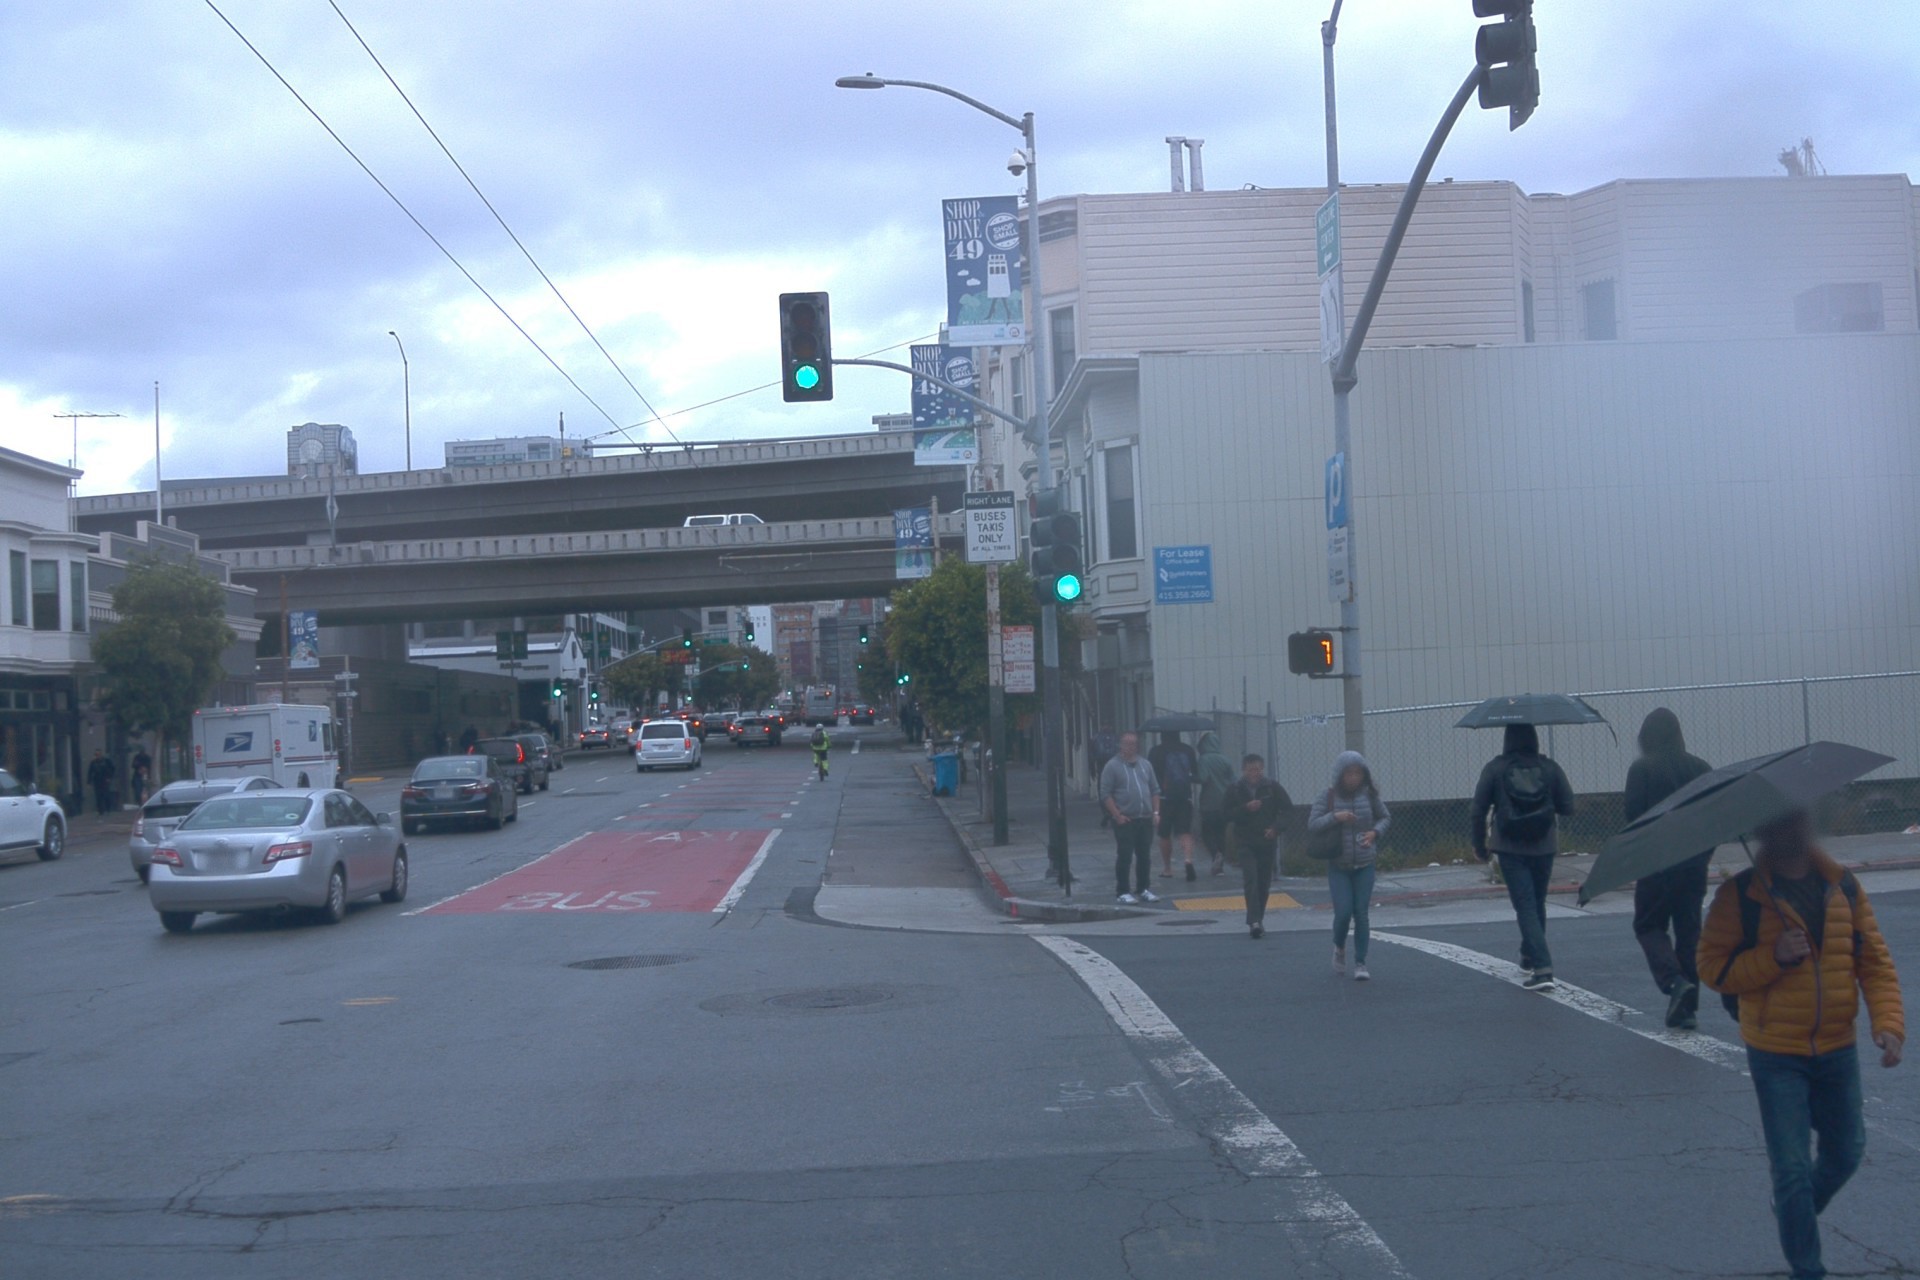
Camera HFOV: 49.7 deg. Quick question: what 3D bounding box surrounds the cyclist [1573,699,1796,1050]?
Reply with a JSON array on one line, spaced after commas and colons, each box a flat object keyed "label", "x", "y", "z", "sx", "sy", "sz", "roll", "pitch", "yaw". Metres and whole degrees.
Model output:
[{"label": "cyclist", "x": 3.925, "y": 1.230, "z": 11.322, "sx": 0.779, "sy": 1.800, "sz": 1.140, "roll": 0, "pitch": -1, "yaw": -2}]

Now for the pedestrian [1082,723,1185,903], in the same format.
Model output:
[{"label": "pedestrian", "x": 1.828, "y": 1.804, "z": 21.892, "sx": 0.843, "sy": 1.837, "sz": 0.755, "roll": 0, "pitch": -1, "yaw": -20}]

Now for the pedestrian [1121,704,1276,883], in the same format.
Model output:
[{"label": "pedestrian", "x": 2.760, "y": 1.754, "z": 24.234, "sx": 1.410, "sy": 1.988, "sz": 1.525, "roll": 0, "pitch": -1, "yaw": -10}]

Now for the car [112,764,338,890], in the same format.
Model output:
[{"label": "car", "x": -11.090, "y": 2.776, "z": 31.628, "sx": 1.960, "sy": 1.560, "sz": 4.612, "roll": 0, "pitch": -1, "yaw": -2}]

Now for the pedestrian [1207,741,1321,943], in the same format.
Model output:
[{"label": "pedestrian", "x": 2.658, "y": 1.747, "z": 18.221, "sx": 0.810, "sy": 1.680, "sz": 1.024, "roll": 0, "pitch": -1, "yaw": -2}]

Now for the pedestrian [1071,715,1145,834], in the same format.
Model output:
[{"label": "pedestrian", "x": 2.300, "y": 2.084, "z": 32.290, "sx": 1.011, "sy": 1.790, "sz": 1.088, "roll": 0, "pitch": -1, "yaw": -4}]

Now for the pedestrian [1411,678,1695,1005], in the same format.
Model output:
[{"label": "pedestrian", "x": 3.783, "y": 1.237, "z": 13.409, "sx": 1.351, "sy": 1.976, "sz": 1.599, "roll": 0, "pitch": -1, "yaw": -1}]

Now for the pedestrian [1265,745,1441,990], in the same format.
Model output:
[{"label": "pedestrian", "x": 2.647, "y": 1.514, "z": 14.070, "sx": 1.000, "sy": 1.560, "sz": 1.000, "roll": 0, "pitch": -1, "yaw": 0}]

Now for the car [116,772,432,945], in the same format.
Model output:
[{"label": "car", "x": -7.500, "y": 2.348, "z": 23.243, "sx": 2.082, "sy": 1.490, "sz": 4.812, "roll": 0, "pitch": -1, "yaw": -2}]

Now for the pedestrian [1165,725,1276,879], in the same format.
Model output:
[{"label": "pedestrian", "x": 3.003, "y": 1.853, "z": 24.019, "sx": 0.990, "sy": 1.692, "sz": 1.085, "roll": 0, "pitch": -1, "yaw": -10}]
